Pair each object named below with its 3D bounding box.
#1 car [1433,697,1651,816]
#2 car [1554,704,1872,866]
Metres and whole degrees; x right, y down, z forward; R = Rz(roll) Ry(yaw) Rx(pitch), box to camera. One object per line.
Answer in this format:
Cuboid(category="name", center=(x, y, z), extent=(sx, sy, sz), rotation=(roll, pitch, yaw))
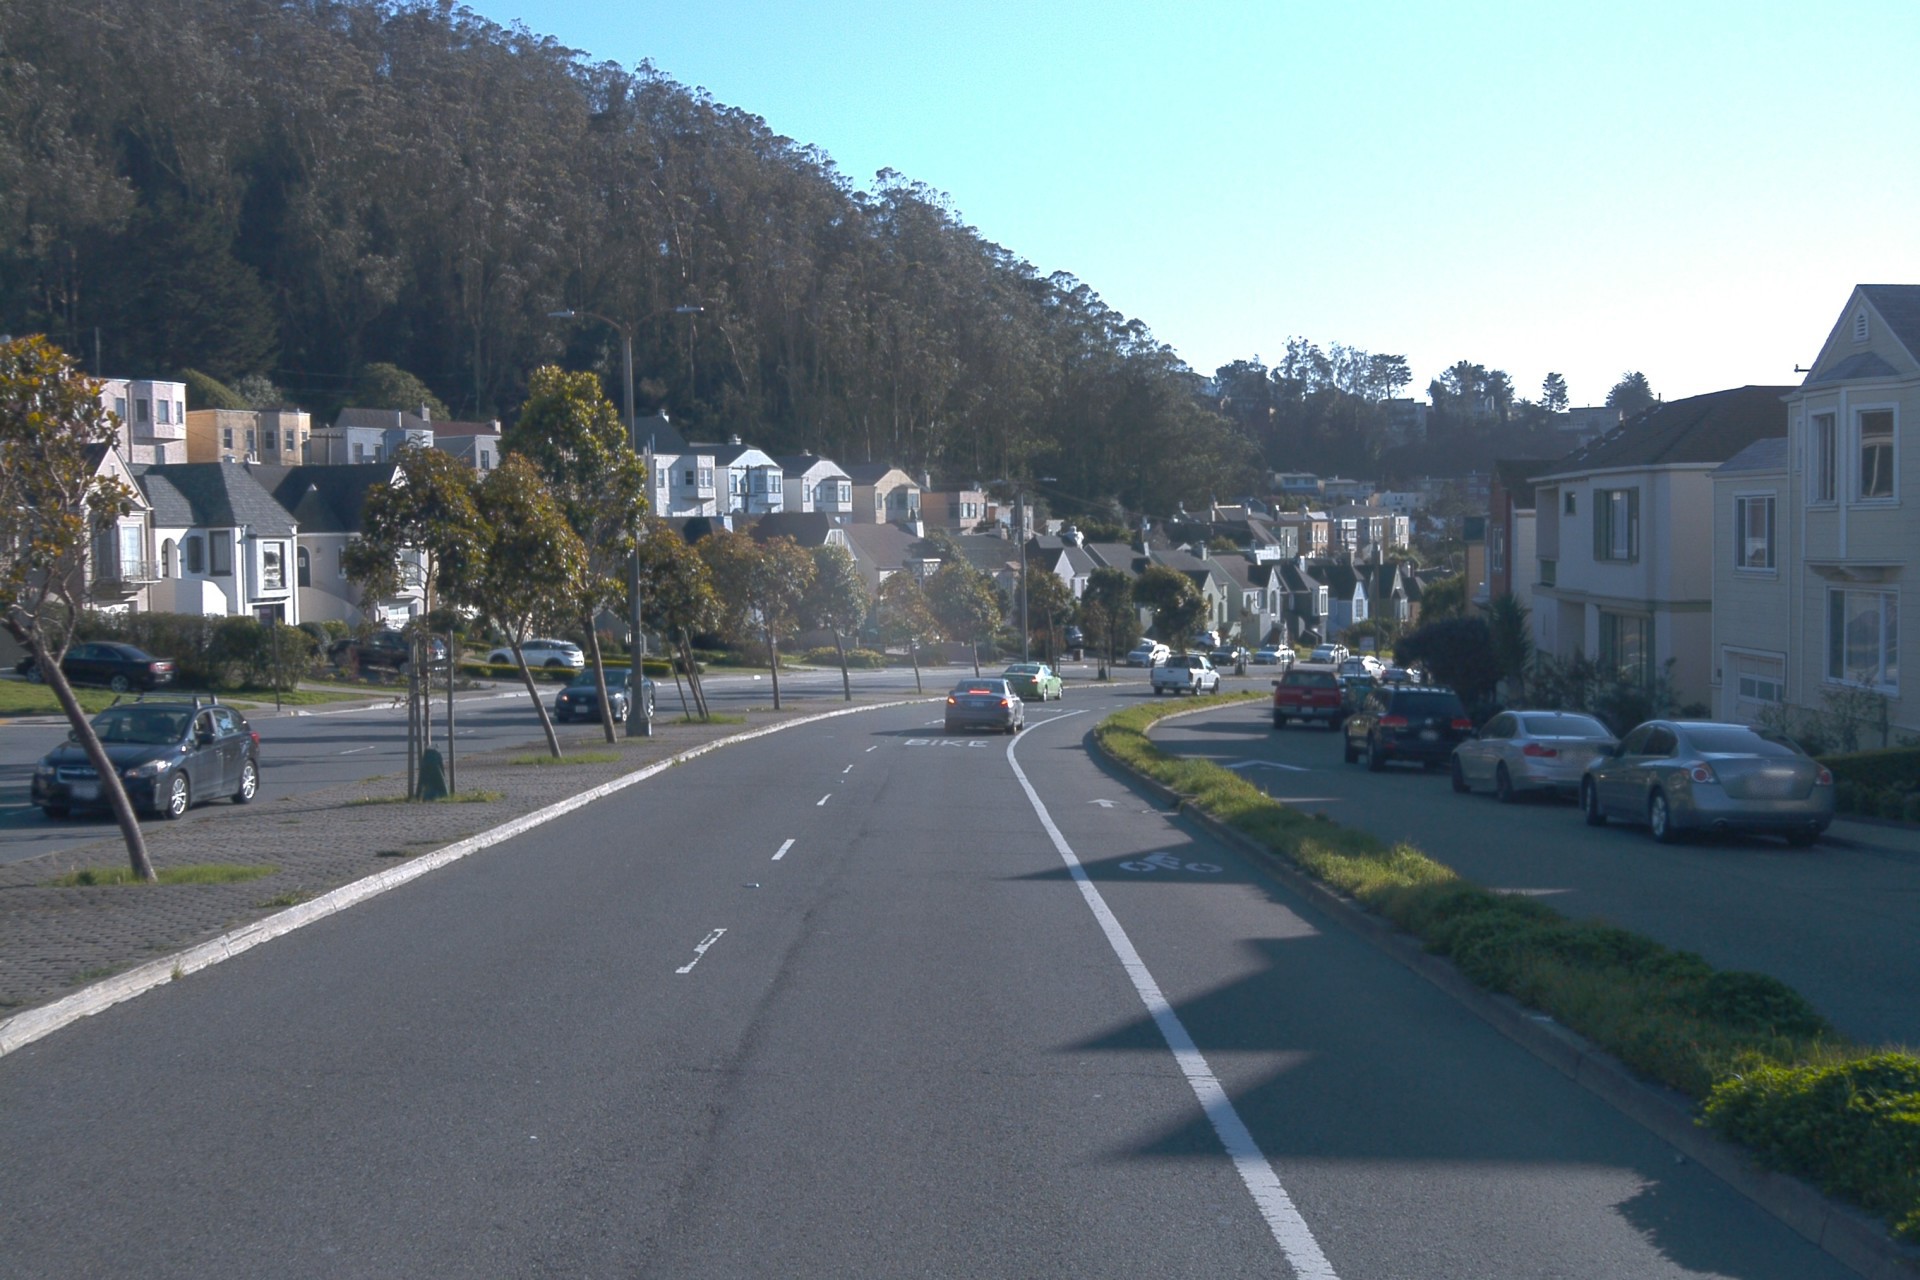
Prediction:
Cuboid(category="car", center=(9.001, 1.759, 32.466), extent=(2.073, 1.620, 4.599), rotation=(0, 0, -1))
Cuboid(category="car", center=(8.959, 1.671, 25.142), extent=(2.108, 1.654, 4.735), rotation=(0, 0, 0))
